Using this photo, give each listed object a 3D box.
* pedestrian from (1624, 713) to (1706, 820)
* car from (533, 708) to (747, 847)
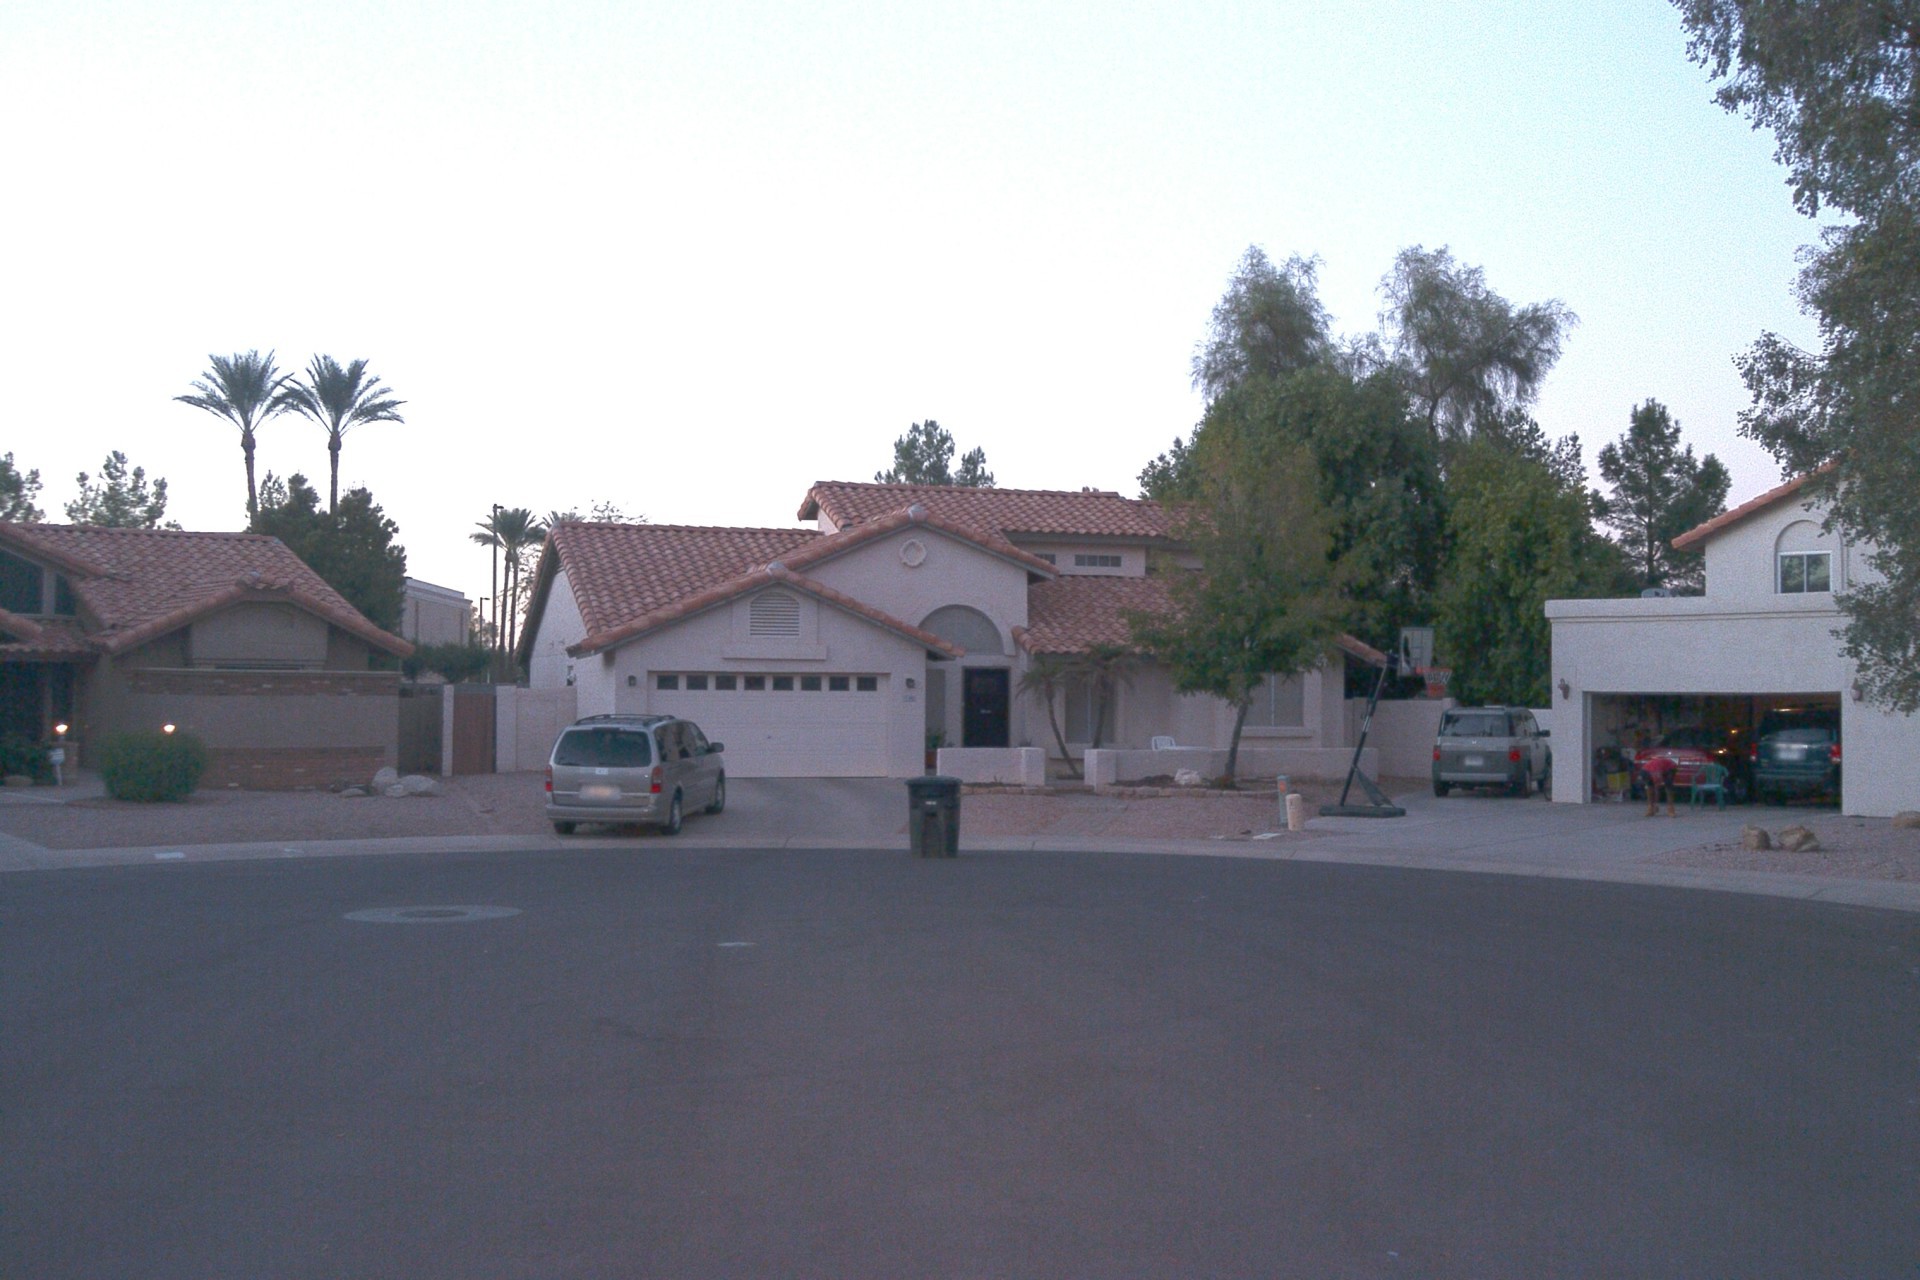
[{"bbox_3d":[11.852,2.116,34.998,0.979,1.750,0.981,0,-2,41],"label":"pedestrian"},{"bbox_3d":[-4.890,2.069,32.629,2.086,1.940,4.994,1,-2,6],"label":"car"}]
